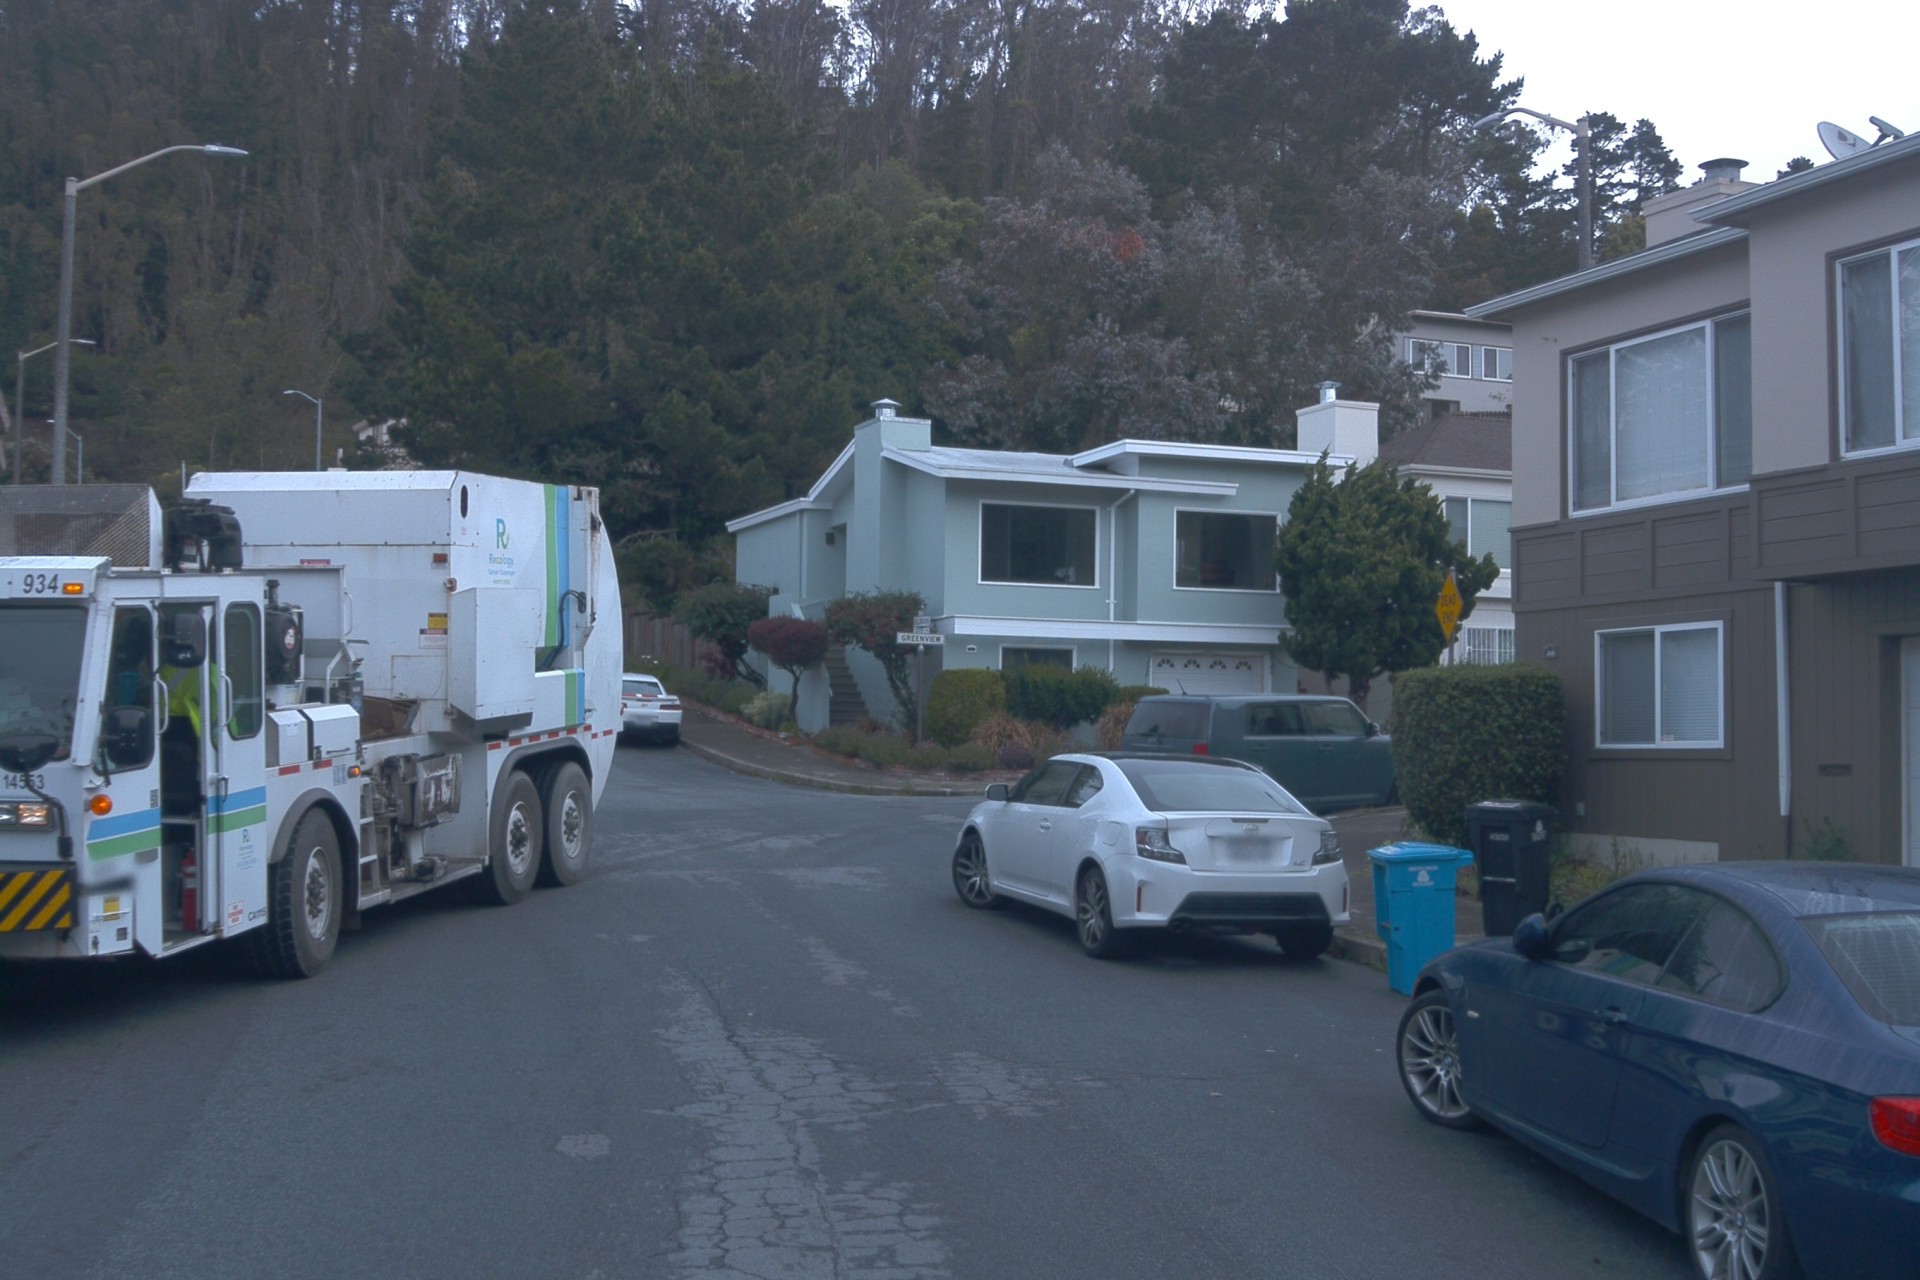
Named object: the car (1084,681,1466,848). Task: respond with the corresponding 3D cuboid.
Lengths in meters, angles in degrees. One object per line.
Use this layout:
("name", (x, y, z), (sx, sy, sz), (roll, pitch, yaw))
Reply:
("car", (3.795, 1.403, 24.728), (4.270, 1.770, 2.030), (0, 0, -35))

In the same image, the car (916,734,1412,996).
("car", (1.389, 1.612, 16.293), (2.202, 1.540, 4.544), (0, 0, -19))
